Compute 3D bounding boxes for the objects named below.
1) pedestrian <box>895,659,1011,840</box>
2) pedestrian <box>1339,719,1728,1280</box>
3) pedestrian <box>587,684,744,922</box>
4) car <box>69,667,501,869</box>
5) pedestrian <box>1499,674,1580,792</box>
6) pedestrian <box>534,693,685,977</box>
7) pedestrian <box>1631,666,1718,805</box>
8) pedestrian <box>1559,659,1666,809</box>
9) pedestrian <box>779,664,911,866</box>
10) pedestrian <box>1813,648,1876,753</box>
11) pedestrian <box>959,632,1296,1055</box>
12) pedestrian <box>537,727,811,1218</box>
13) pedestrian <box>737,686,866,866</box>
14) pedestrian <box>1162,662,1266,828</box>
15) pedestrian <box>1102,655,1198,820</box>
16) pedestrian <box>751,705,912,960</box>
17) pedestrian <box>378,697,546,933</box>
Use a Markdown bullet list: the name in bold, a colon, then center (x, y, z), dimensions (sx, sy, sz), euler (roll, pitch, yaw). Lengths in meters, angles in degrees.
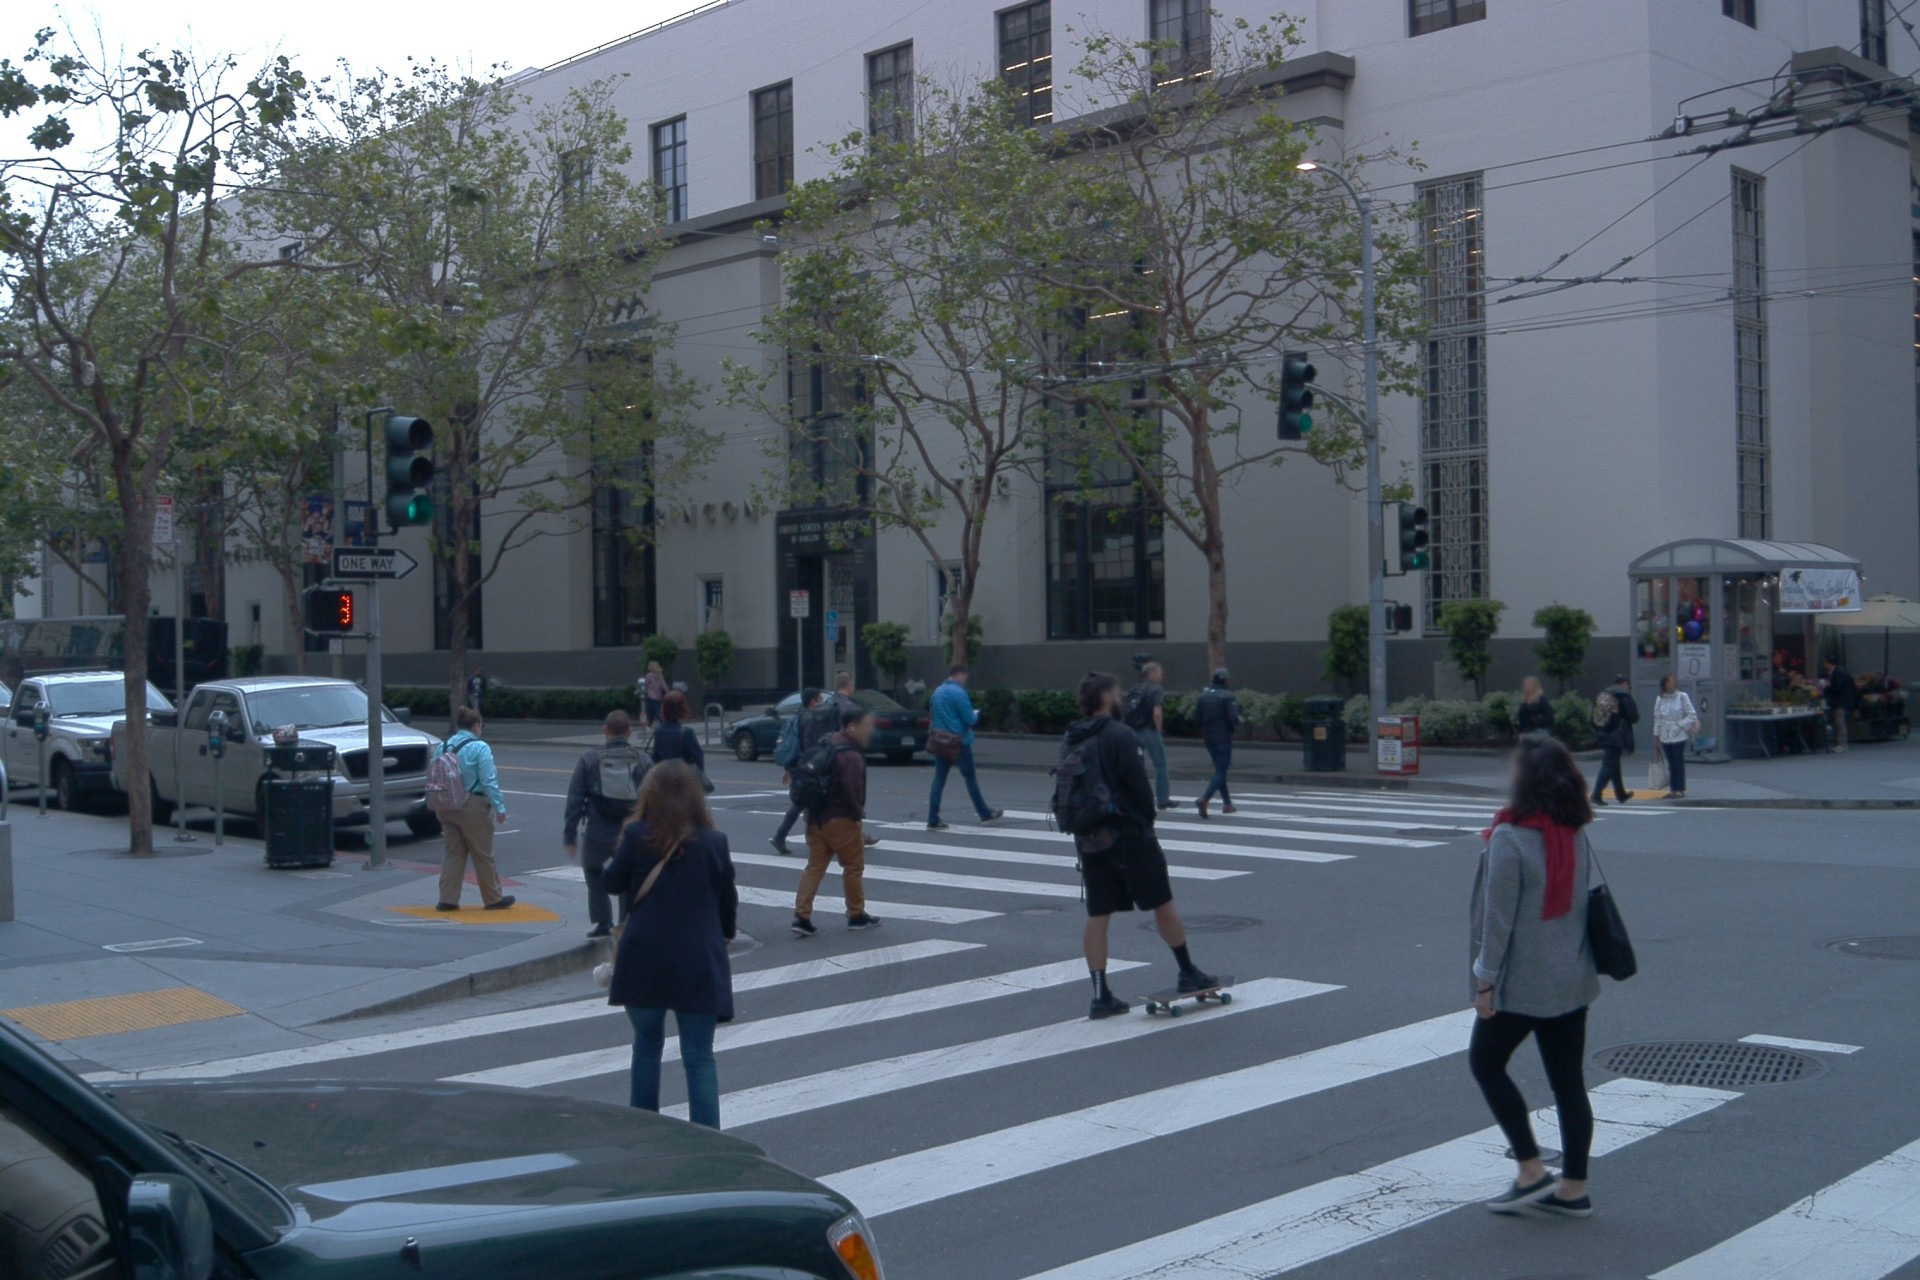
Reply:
- **pedestrian**: center (-0.077, 1.167, 22.520), dimensions (0.984, 1.896, 0.798), euler (-1, 1, -44)
- **pedestrian**: center (1.990, 1.179, 7.210), dimensions (0.800, 1.739, 1.039), euler (-1, 1, -40)
- **pedestrian**: center (-2.432, 1.314, 17.070), dimensions (0.828, 1.856, 0.973), euler (0, 1, 39)
- **car**: center (-8.125, 1.363, 24.413), dimensions (2.501, 1.940, 6.007), euler (-1, 1, -44)
- **pedestrian**: center (8.409, 1.331, 29.953), dimensions (0.893, 1.646, 0.735), euler (-1, 1, -37)
- **pedestrian**: center (-2.404, 1.291, 14.082), dimensions (0.853, 1.809, 0.938), euler (0, 1, -20)
- **pedestrian**: center (9.676, 1.272, 27.946), dimensions (0.807, 1.800, 0.940), euler (1, 1, 42)
- **pedestrian**: center (7.983, 1.130, 25.253), dimensions (0.963, 1.766, 0.842), euler (-1, 1, -34)
- **pedestrian**: center (-1.131, 1.206, 20.394), dimensions (1.051, 1.896, 0.762), euler (-1, 1, -38)
- **pedestrian**: center (15.074, 1.019, 35.162), dimensions (0.751, 1.746, 0.848), euler (1, 1, 42)
- **pedestrian**: center (0.933, 1.027, 11.360), dimensions (1.544, 2.118, 1.097), euler (-1, 1, -44)
- **pedestrian**: center (-1.144, 1.247, 8.149), dimensions (0.886, 1.741, 0.888), euler (0, 1, -21)
- **pedestrian**: center (-1.591, 1.337, 20.725), dimensions (0.974, 1.706, 0.840), euler (-1, 1, -40)
- **pedestrian**: center (2.868, 1.157, 23.271), dimensions (0.753, 1.796, 0.988), euler (0, 1, 39)
- **pedestrian**: center (2.210, 1.109, 23.999), dimensions (0.678, 1.856, 0.980), euler (1, 1, 40)
- **pedestrian**: center (-0.946, 1.392, 15.309), dimensions (0.716, 1.771, 0.964), euler (1, 1, 41)
- **pedestrian**: center (-3.972, 1.361, 16.502), dimensions (0.829, 1.767, 1.013), euler (0, 1, 29)
